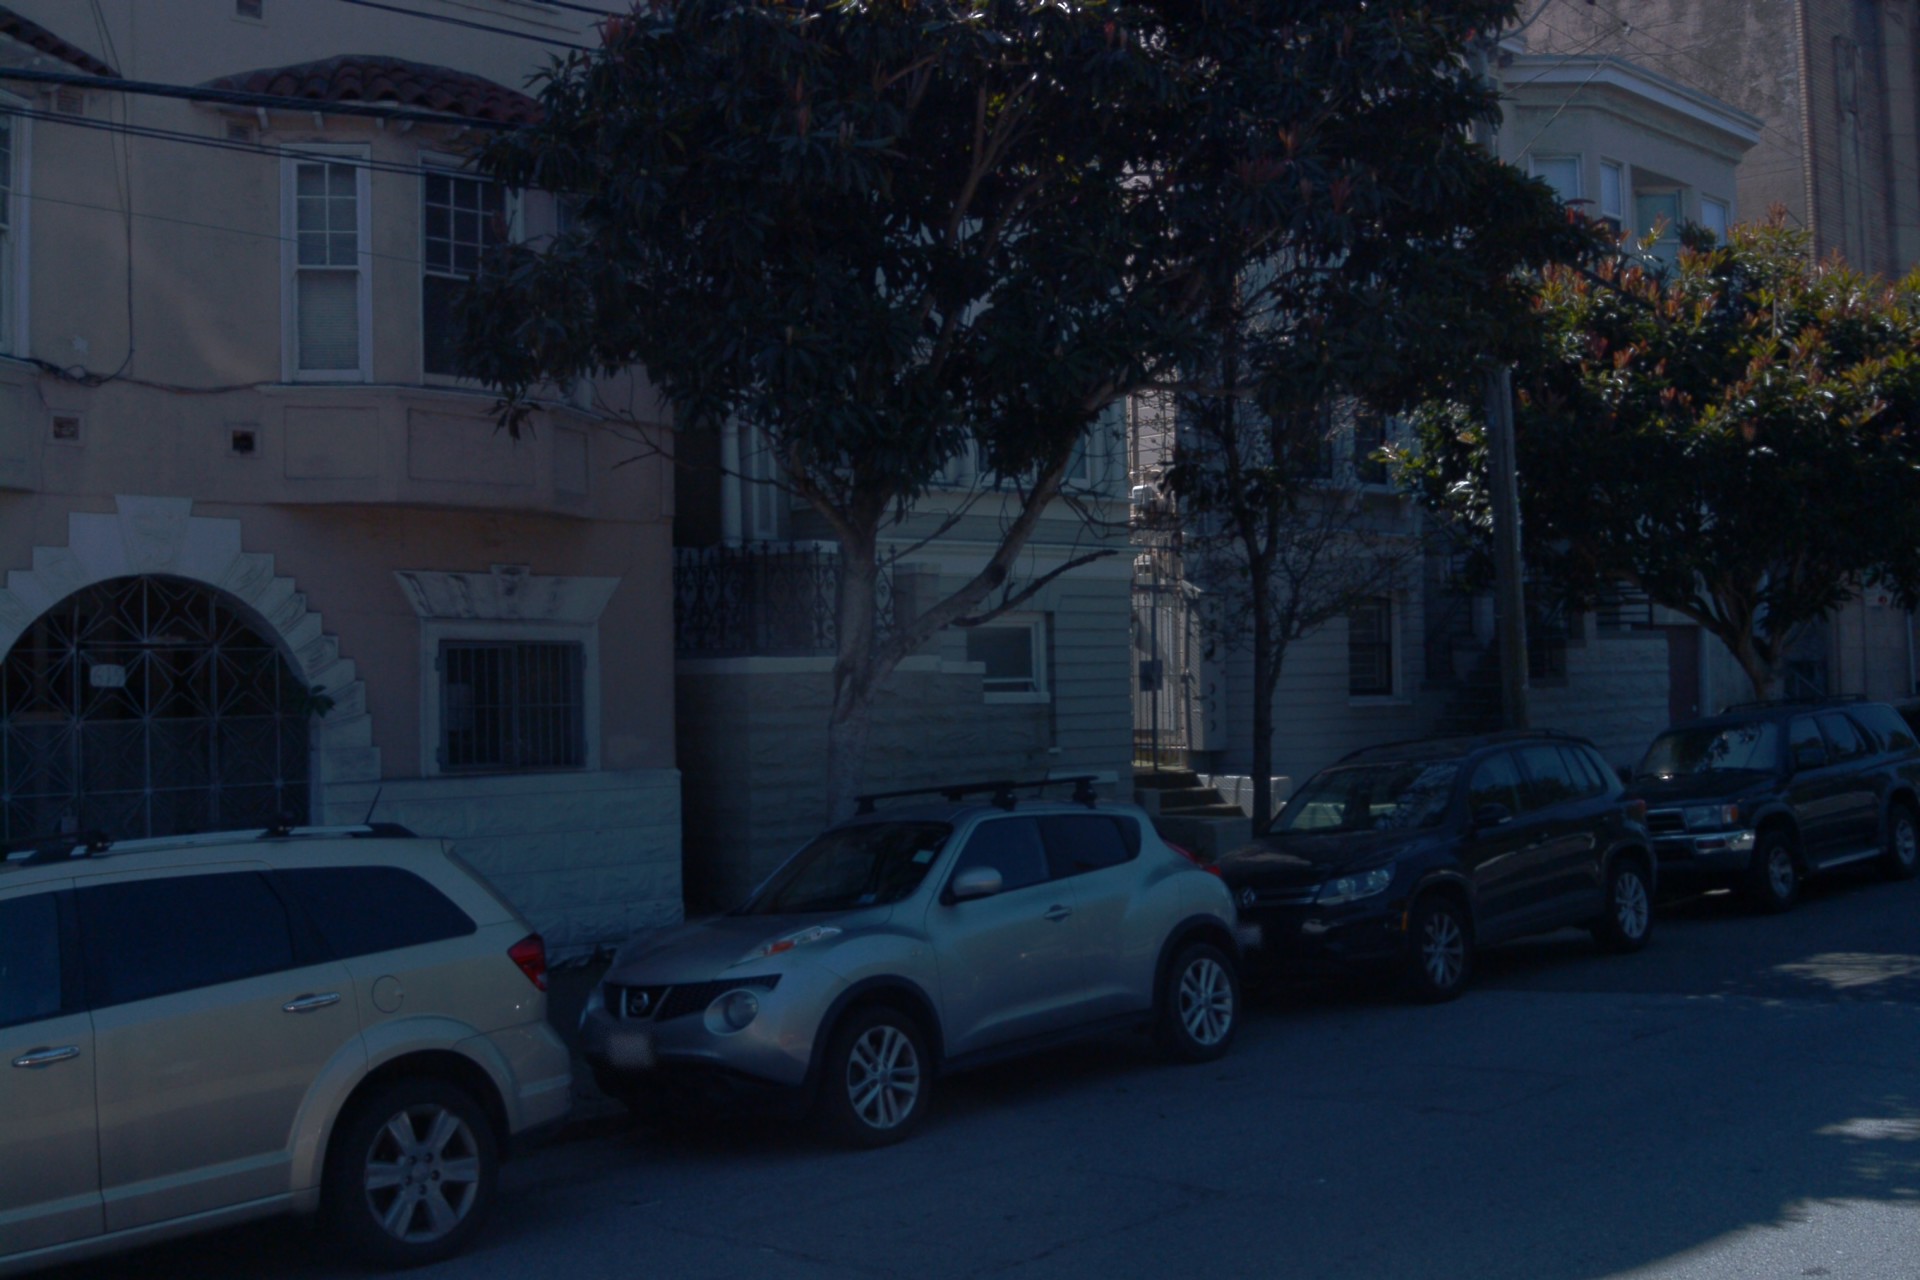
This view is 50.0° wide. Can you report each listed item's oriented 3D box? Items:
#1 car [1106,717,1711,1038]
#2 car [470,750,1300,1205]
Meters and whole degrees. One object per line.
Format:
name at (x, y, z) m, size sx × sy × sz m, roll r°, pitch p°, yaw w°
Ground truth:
car at (3.299, 1.495, 14.538) m, size 2.069 × 1.660 × 4.545 m, roll 1°, pitch 1°, yaw 44°
car at (-0.227, 1.562, 11.031) m, size 1.984 × 1.640 × 4.289 m, roll 1°, pitch 1°, yaw 43°
